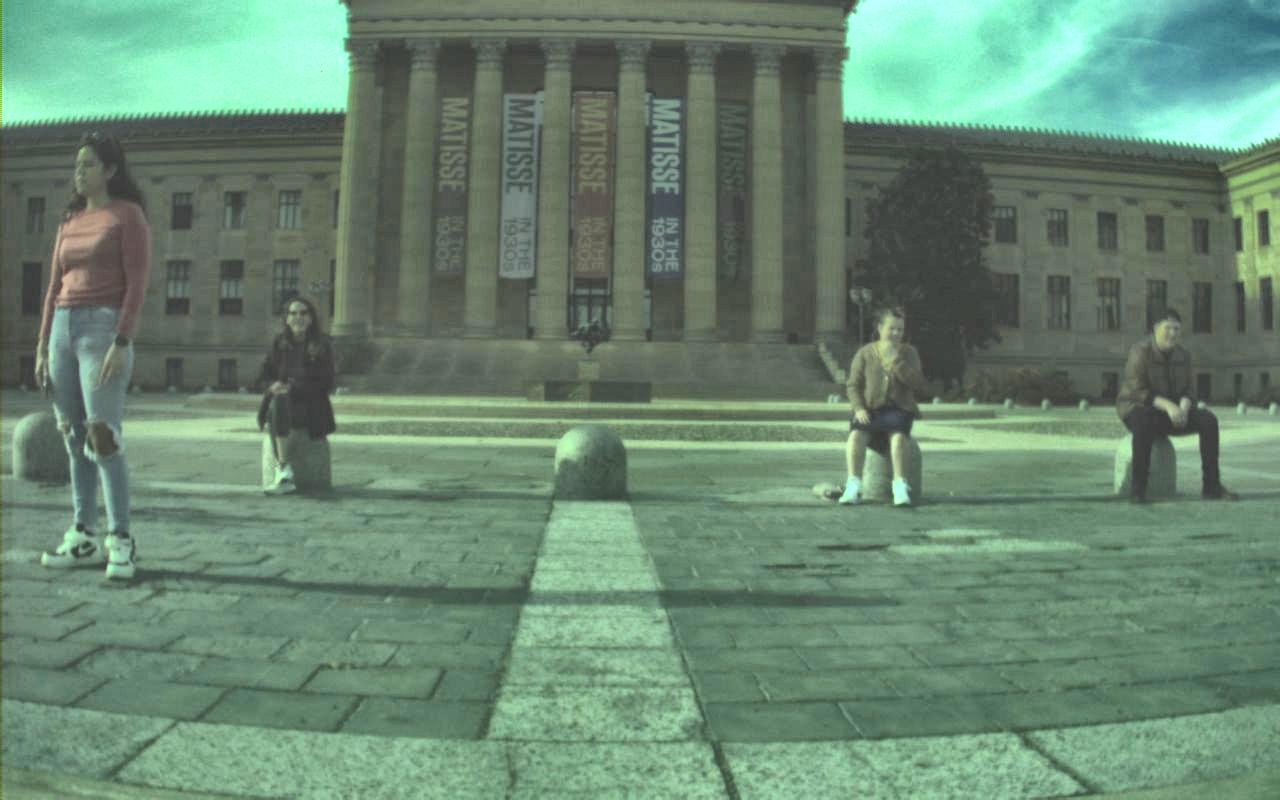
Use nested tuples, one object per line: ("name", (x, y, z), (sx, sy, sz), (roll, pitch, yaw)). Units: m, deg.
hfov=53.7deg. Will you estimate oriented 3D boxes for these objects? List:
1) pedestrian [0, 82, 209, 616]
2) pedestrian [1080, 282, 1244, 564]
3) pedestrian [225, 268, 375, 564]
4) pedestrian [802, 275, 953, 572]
("pedestrian", (-1.972, -0.175, 4.176), (0.775, 1.794, 0.770), (0, 0, -18))
("pedestrian", (3.489, 0.156, 7.850), (0.873, 1.777, 0.867), (0, 0, 1))
("pedestrian", (-2.187, 0.097, 7.734), (0.824, 1.773, 0.813), (0, 0, -28))
("pedestrian", (1.533, 0.135, 7.887), (0.855, 1.781, 0.851), (1, 0, 17))
